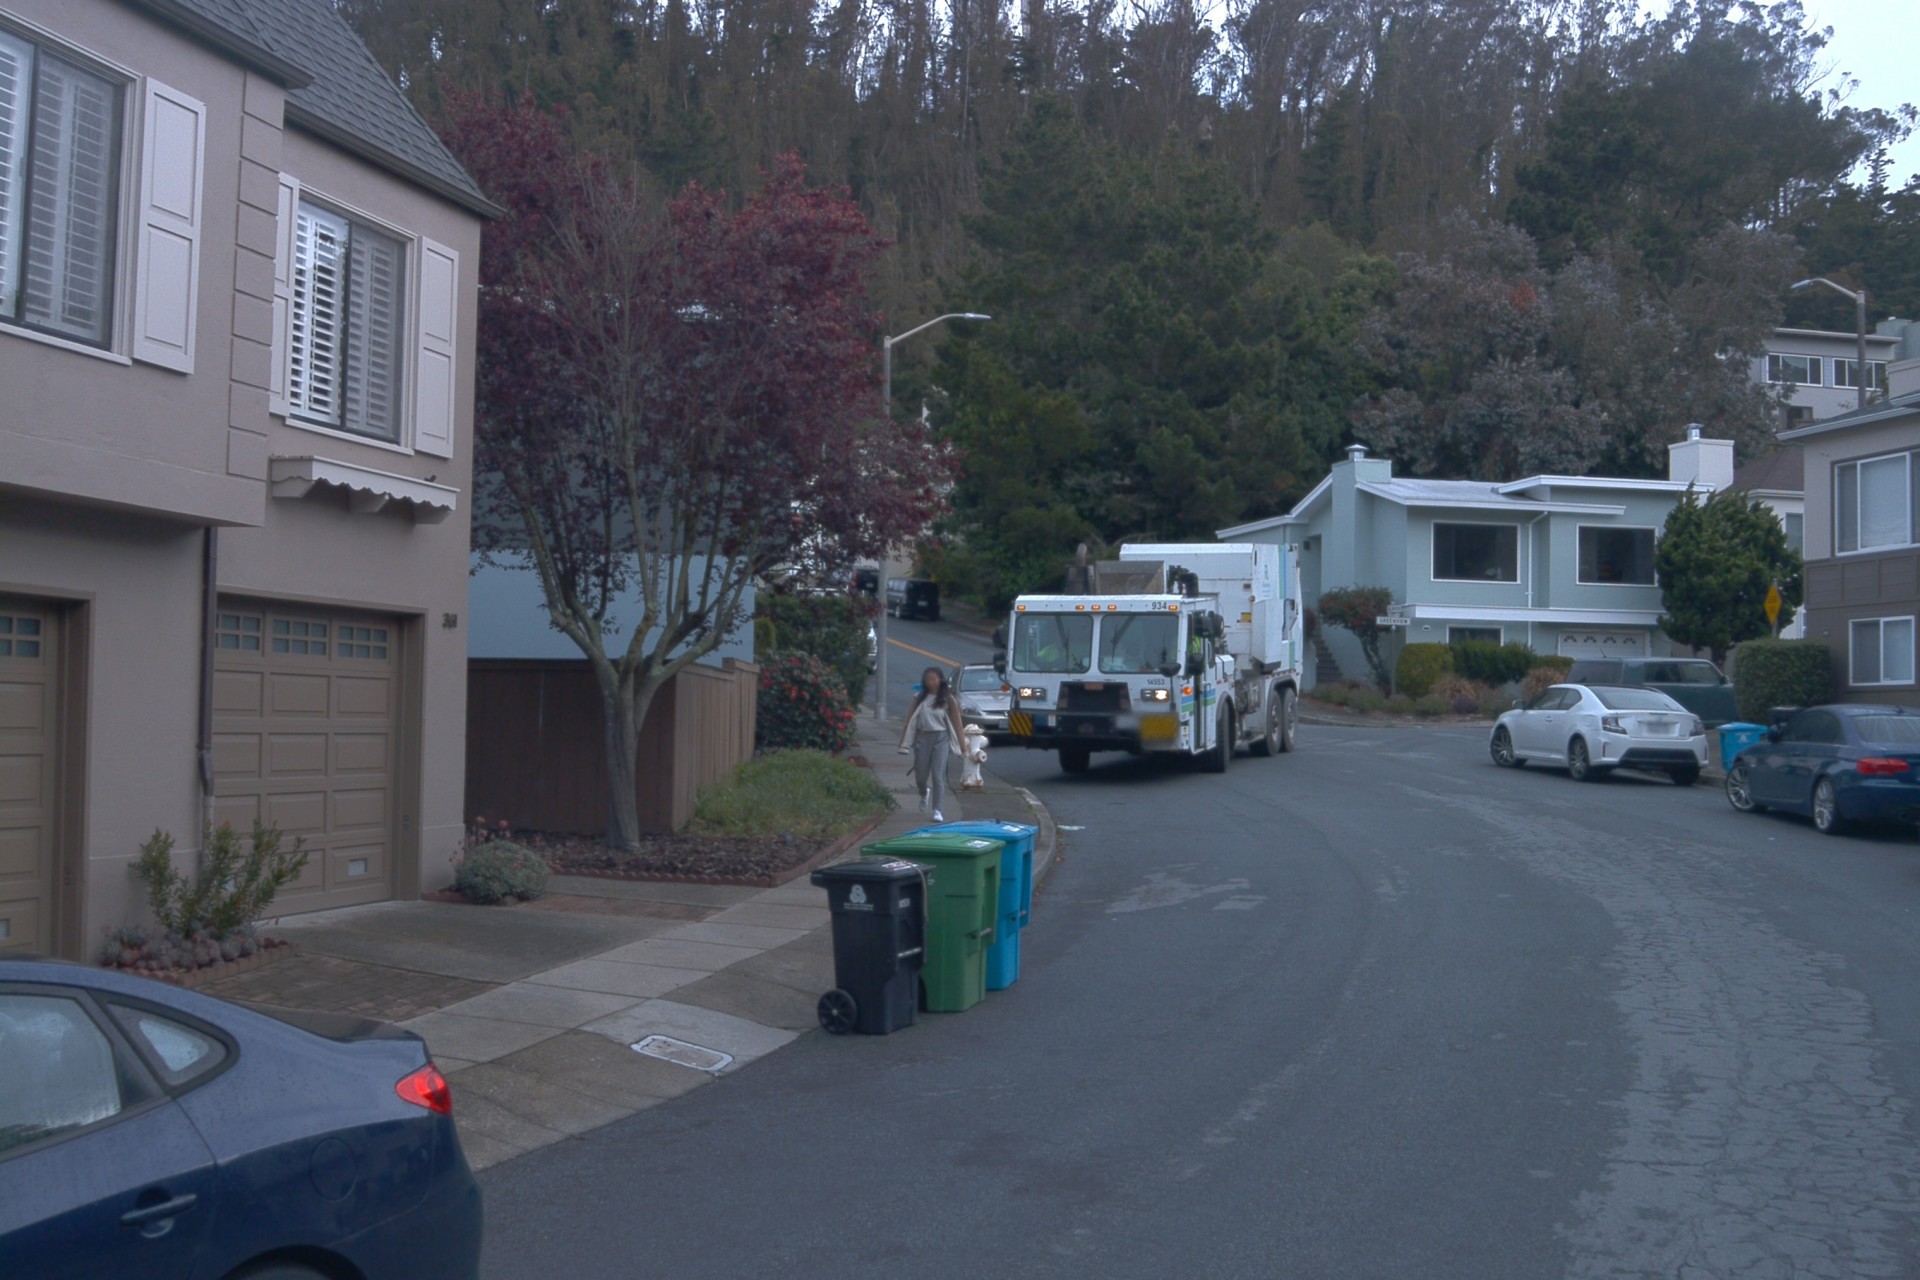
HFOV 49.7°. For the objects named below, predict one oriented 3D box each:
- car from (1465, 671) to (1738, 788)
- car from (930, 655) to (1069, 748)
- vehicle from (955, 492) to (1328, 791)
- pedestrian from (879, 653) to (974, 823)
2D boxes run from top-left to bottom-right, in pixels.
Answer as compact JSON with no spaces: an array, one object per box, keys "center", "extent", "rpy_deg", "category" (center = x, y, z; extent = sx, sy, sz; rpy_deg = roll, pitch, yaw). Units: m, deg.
[{"center":[9.671,1.300,31.691],"extent":[2.209,1.540,4.529],"rpy_deg":[0,0,-9],"category":"car"},{"center":[0.658,1.087,38.484],"extent":[2.120,1.560,4.766],"rpy_deg":[0,0,-5],"category":"car"},{"center":[3.277,-0.003,32.777],"extent":[3.291,3.920,10.707],"rpy_deg":[0,0,19],"category":"vehicle"},{"center":[-0.340,1.013,21.928],"extent":[0.952,1.740,1.001],"rpy_deg":[0,0,1],"category":"pedestrian"}]
